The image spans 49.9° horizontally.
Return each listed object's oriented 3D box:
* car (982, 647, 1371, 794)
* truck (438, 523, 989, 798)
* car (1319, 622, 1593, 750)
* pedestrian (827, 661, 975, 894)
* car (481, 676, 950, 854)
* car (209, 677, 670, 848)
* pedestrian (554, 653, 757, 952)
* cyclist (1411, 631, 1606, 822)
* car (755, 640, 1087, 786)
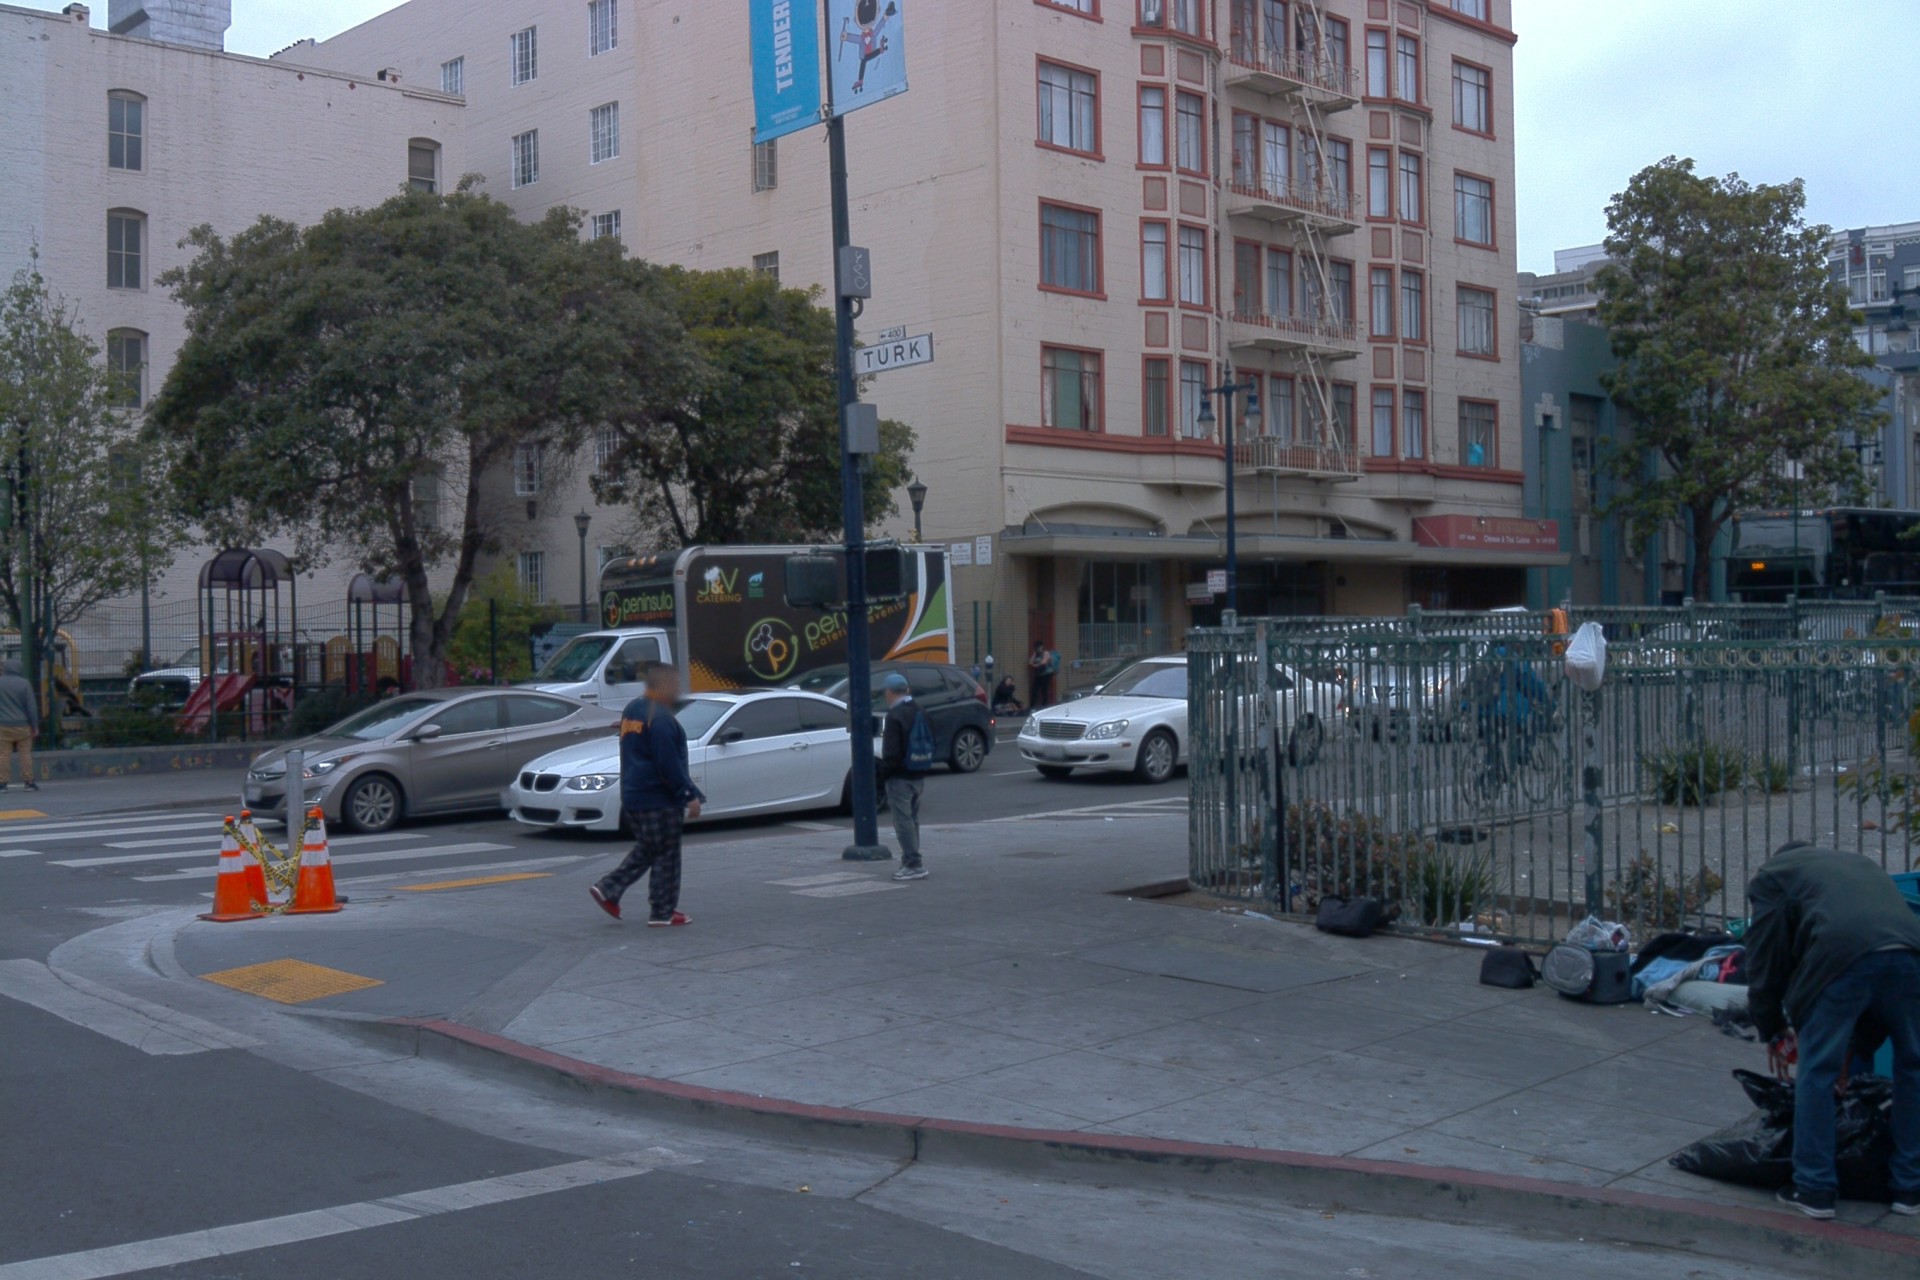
[{"bbox_3d":[2.842,0.931,26.268,5.013,1.630,2.224,-1,1,-44],"label":"car"},{"bbox_3d":[-3.329,0.225,28.917,7.103,3.420,2.935,0,1,-36],"label":"truck"},{"bbox_3d":[7.639,0.636,31.590,4.436,1.810,2.035,-1,1,-45],"label":"car"},{"bbox_3d":[-0.446,1.005,15.540,0.771,1.670,0.804,-1,1,-42],"label":"pedestrian"},{"bbox_3d":[-2.425,1.190,21.366,4.584,1.520,1.930,-1,1,-44],"label":"car"},{"bbox_3d":[-5.536,1.234,22.355,4.454,1.540,1.957,-1,1,-44],"label":"car"},{"bbox_3d":[-1.958,0.995,13.239,1.029,1.800,0.912,0,1,-29],"label":"pedestrian"},{"bbox_3d":[5.342,0.790,20.064,1.014,1.750,1.949,1,1,44],"label":"cyclist"},{"bbox_3d":[-0.446,0.891,27.346,1.853,1.730,4.317,1,1,45],"label":"car"}]
